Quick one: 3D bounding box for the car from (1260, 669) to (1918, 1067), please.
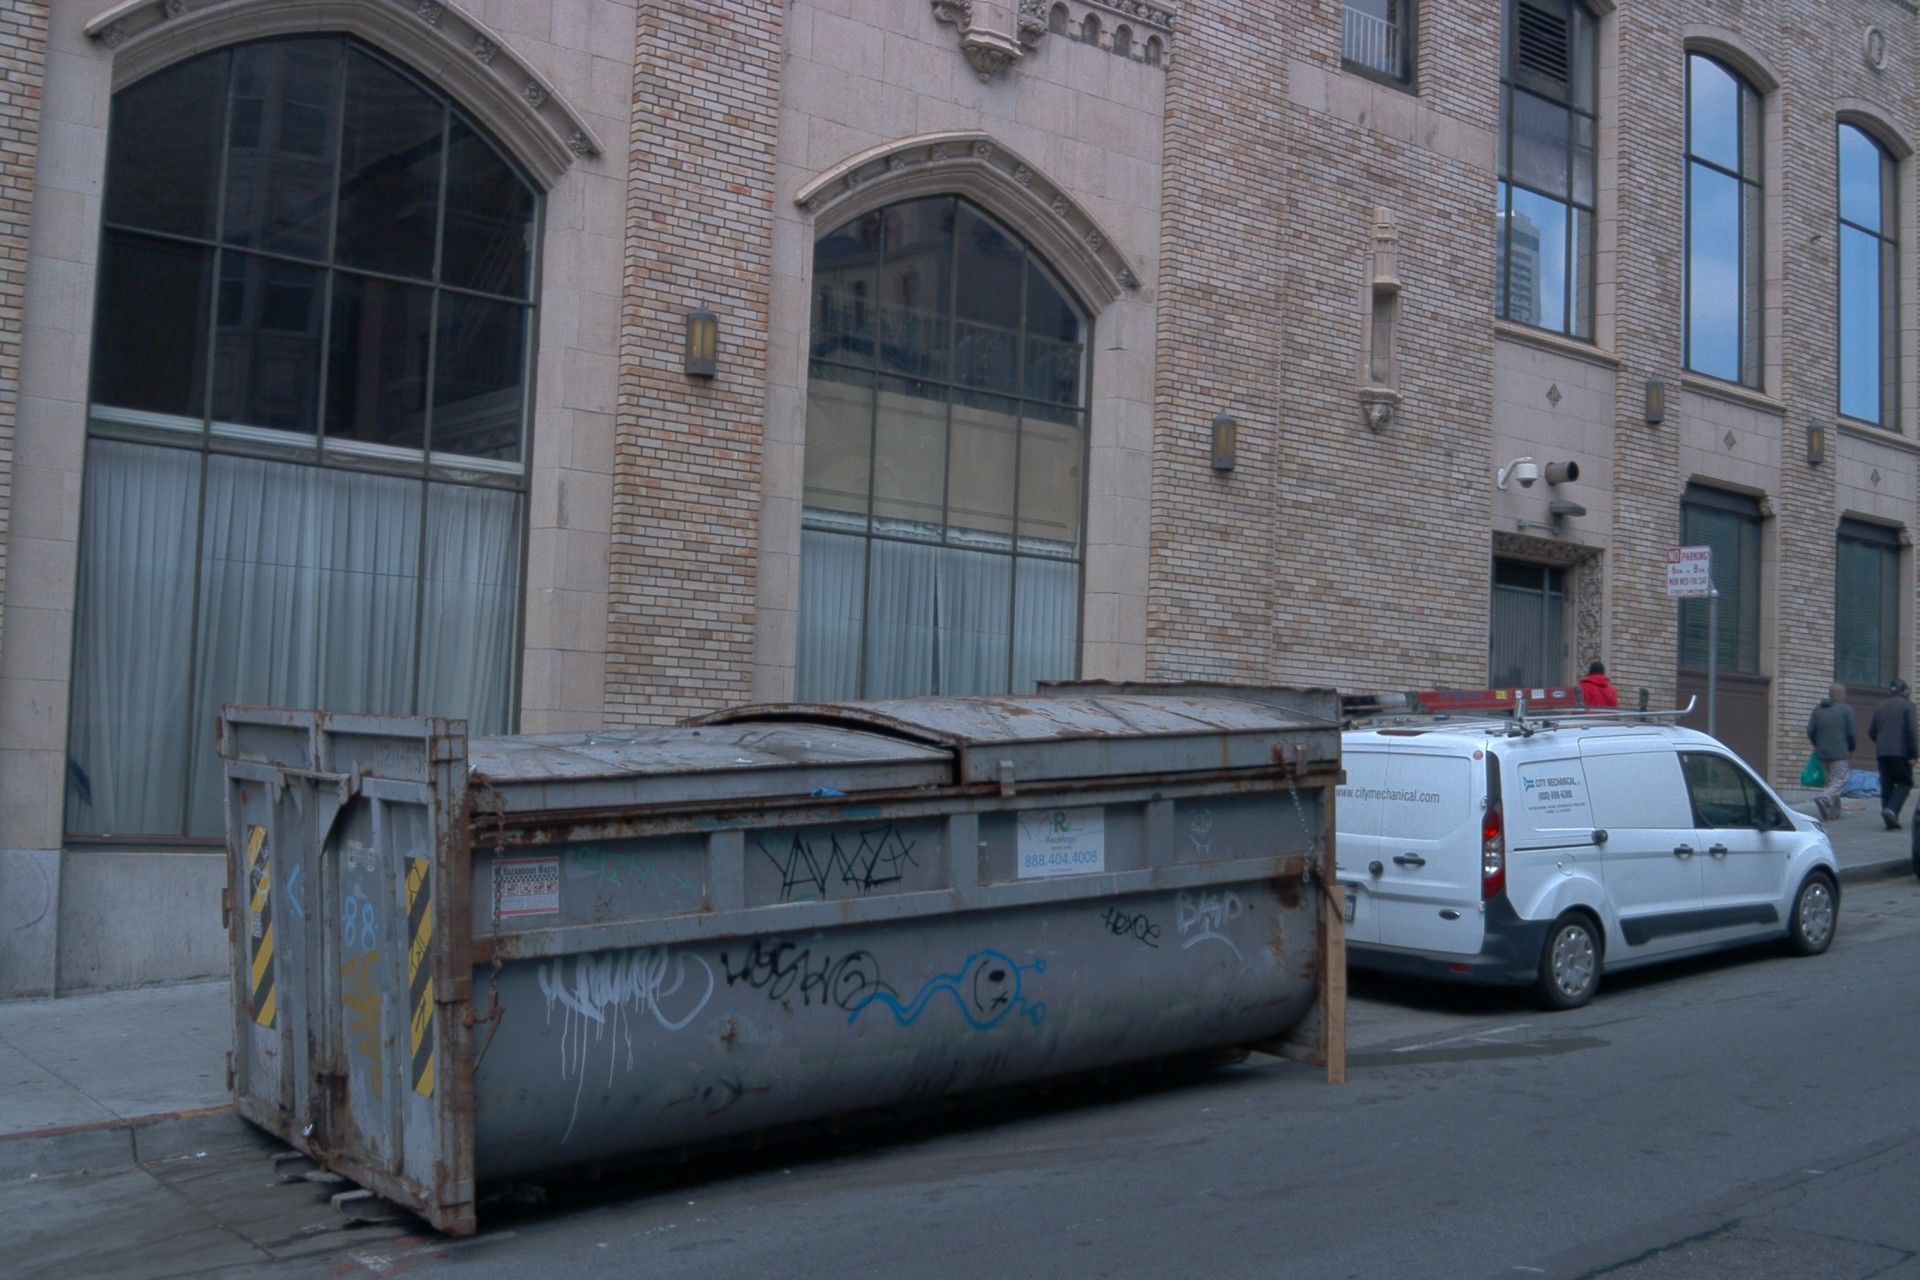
[{"bbox_3d":[4.471,1.349,14.255,4.889,2.170,2.003,-1,1,-40],"label":"car"}]

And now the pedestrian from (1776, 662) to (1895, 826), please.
[{"bbox_3d":[9.980,1.161,23.525,0.923,1.780,0.899,-1,1,-37],"label":"pedestrian"}]

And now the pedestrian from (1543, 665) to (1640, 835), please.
[{"bbox_3d":[6.918,1.190,22.630,0.786,1.800,0.729,0,1,-8],"label":"pedestrian"}]
